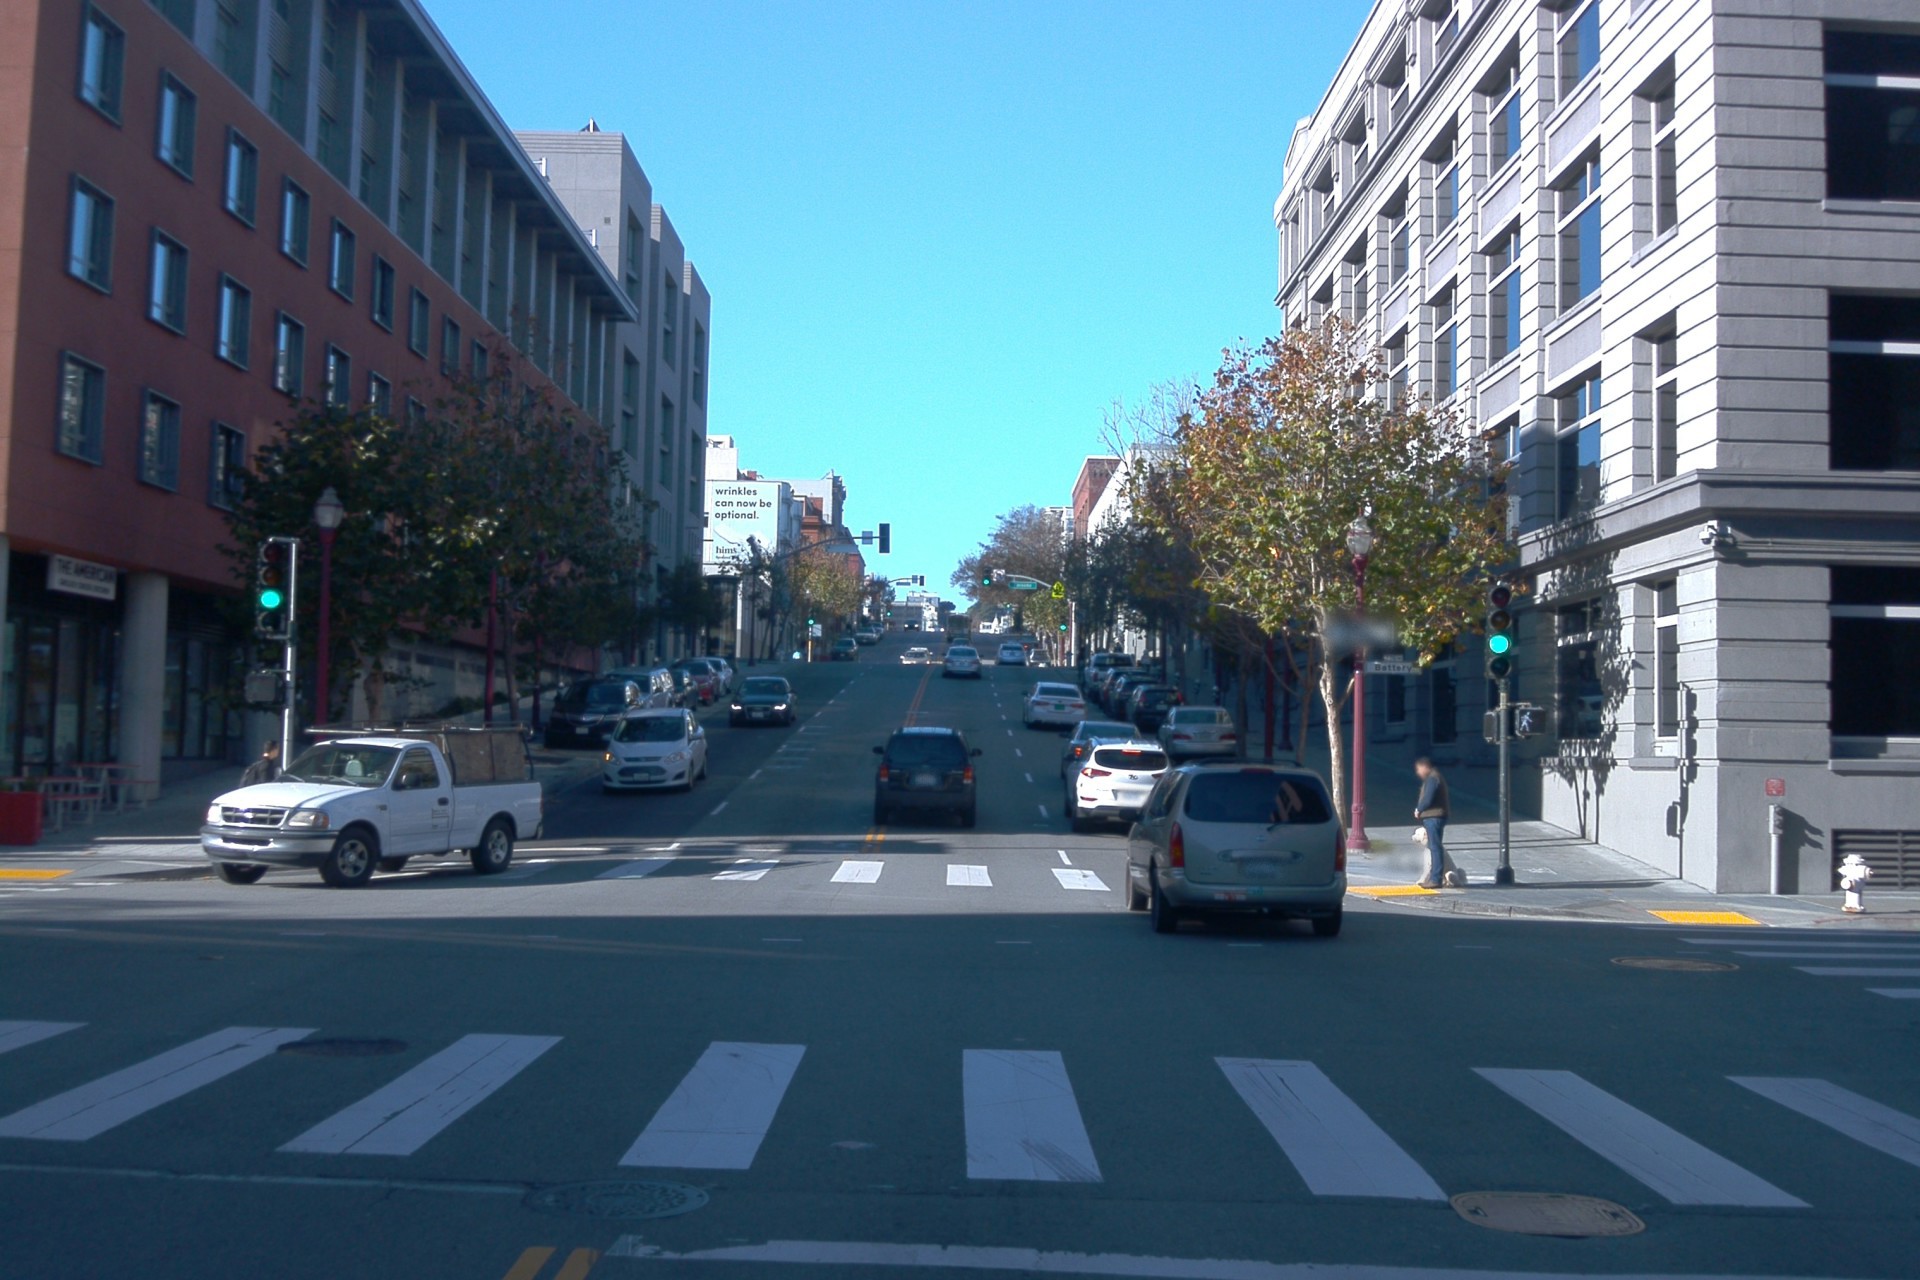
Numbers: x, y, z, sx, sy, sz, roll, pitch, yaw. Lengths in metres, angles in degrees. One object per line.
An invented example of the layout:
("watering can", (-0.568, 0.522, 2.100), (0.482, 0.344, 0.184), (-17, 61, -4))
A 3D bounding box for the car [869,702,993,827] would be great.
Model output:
("car", (-0.496, 2.204, 37.996), (2.096, 2.100, 4.545), (1, -2, 0))

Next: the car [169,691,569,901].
("car", (-7.445, 1.900, 26.922), (2.144, 2.400, 5.283), (0, -2, 22))

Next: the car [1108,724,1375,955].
("car", (2.818, 1.968, 21.928), (2.113, 2.070, 4.763), (1, -2, 0))

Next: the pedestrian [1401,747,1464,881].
("pedestrian", (6.798, 2.492, 29.963), (0.787, 1.880, 0.765), (1, -1, 6))

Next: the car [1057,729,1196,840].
("car", (2.959, 2.579, 37.964), (2.088, 1.800, 4.683), (1, -2, -1))
